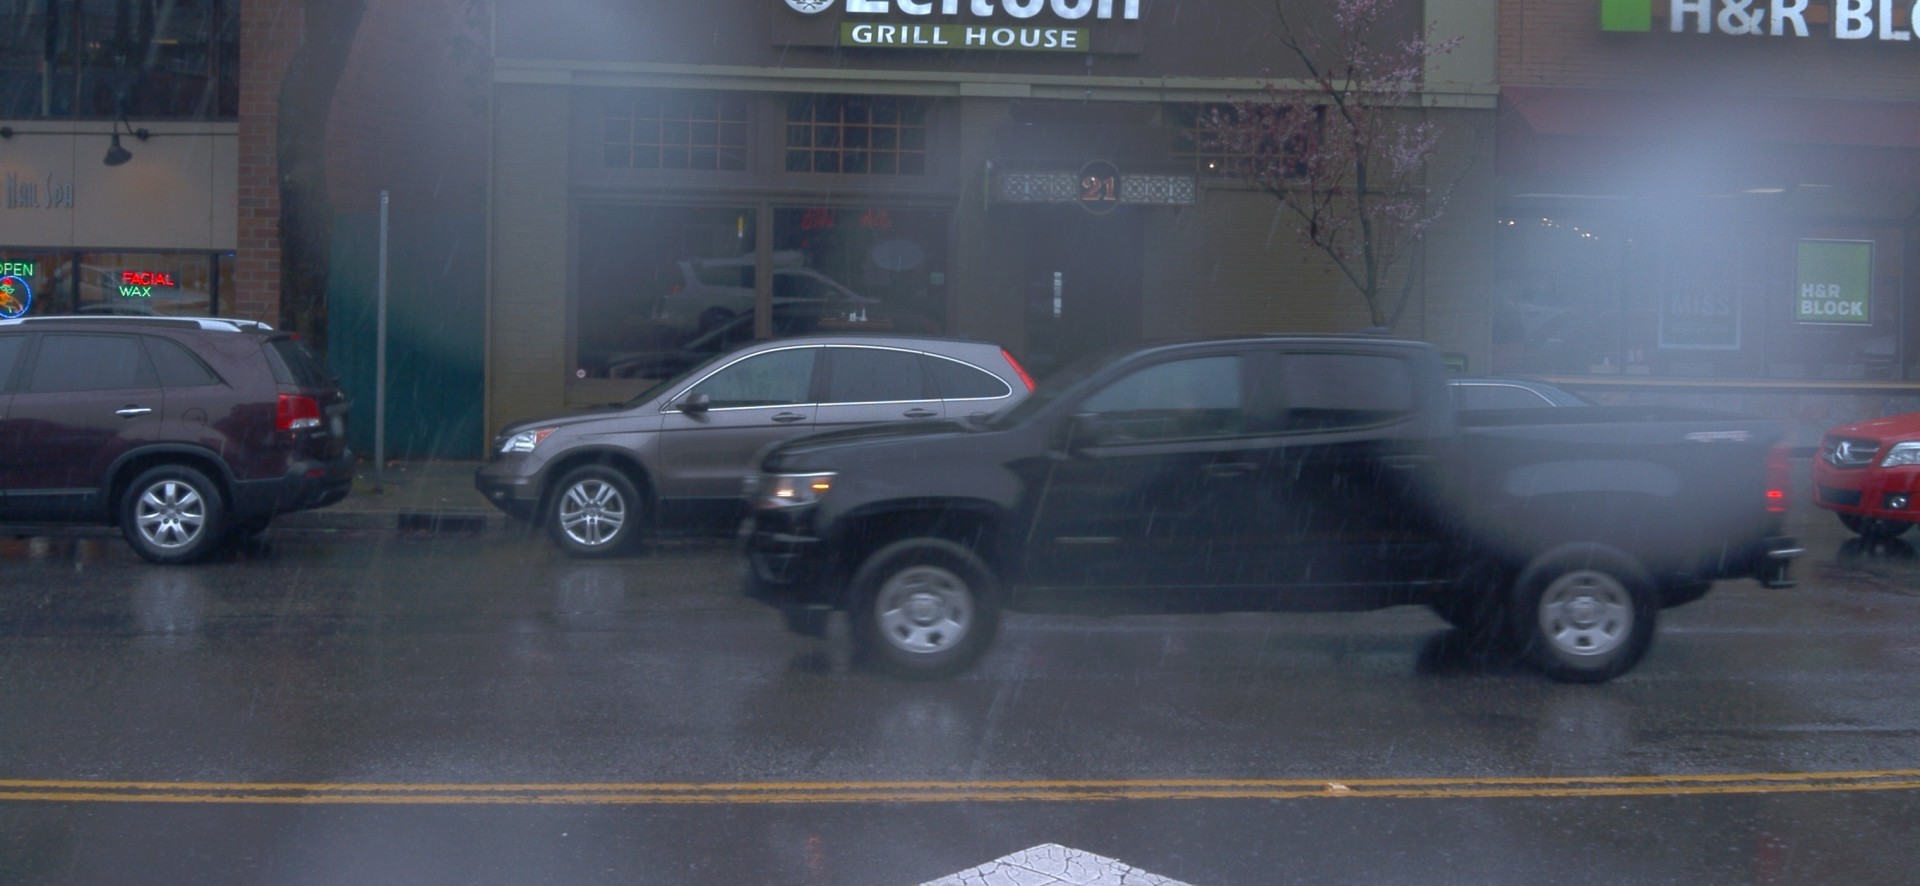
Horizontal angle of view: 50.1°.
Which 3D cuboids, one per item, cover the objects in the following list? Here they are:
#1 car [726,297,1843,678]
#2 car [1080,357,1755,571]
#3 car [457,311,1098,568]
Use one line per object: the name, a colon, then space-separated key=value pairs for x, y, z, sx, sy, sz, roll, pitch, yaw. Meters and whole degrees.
car: x=1.586 y=0.156 z=11.283 sx=5.550 sy=1.743 sz=2.267 roll=0 pitch=5 yaw=-3
car: x=3.468 y=0.121 z=16.161 sx=4.797 sy=1.414 sz=1.988 roll=0 pitch=5 yaw=-5
car: x=-1.397 y=-0.087 z=15.804 sx=4.605 sy=1.724 sz=1.918 roll=0 pitch=4 yaw=-7
